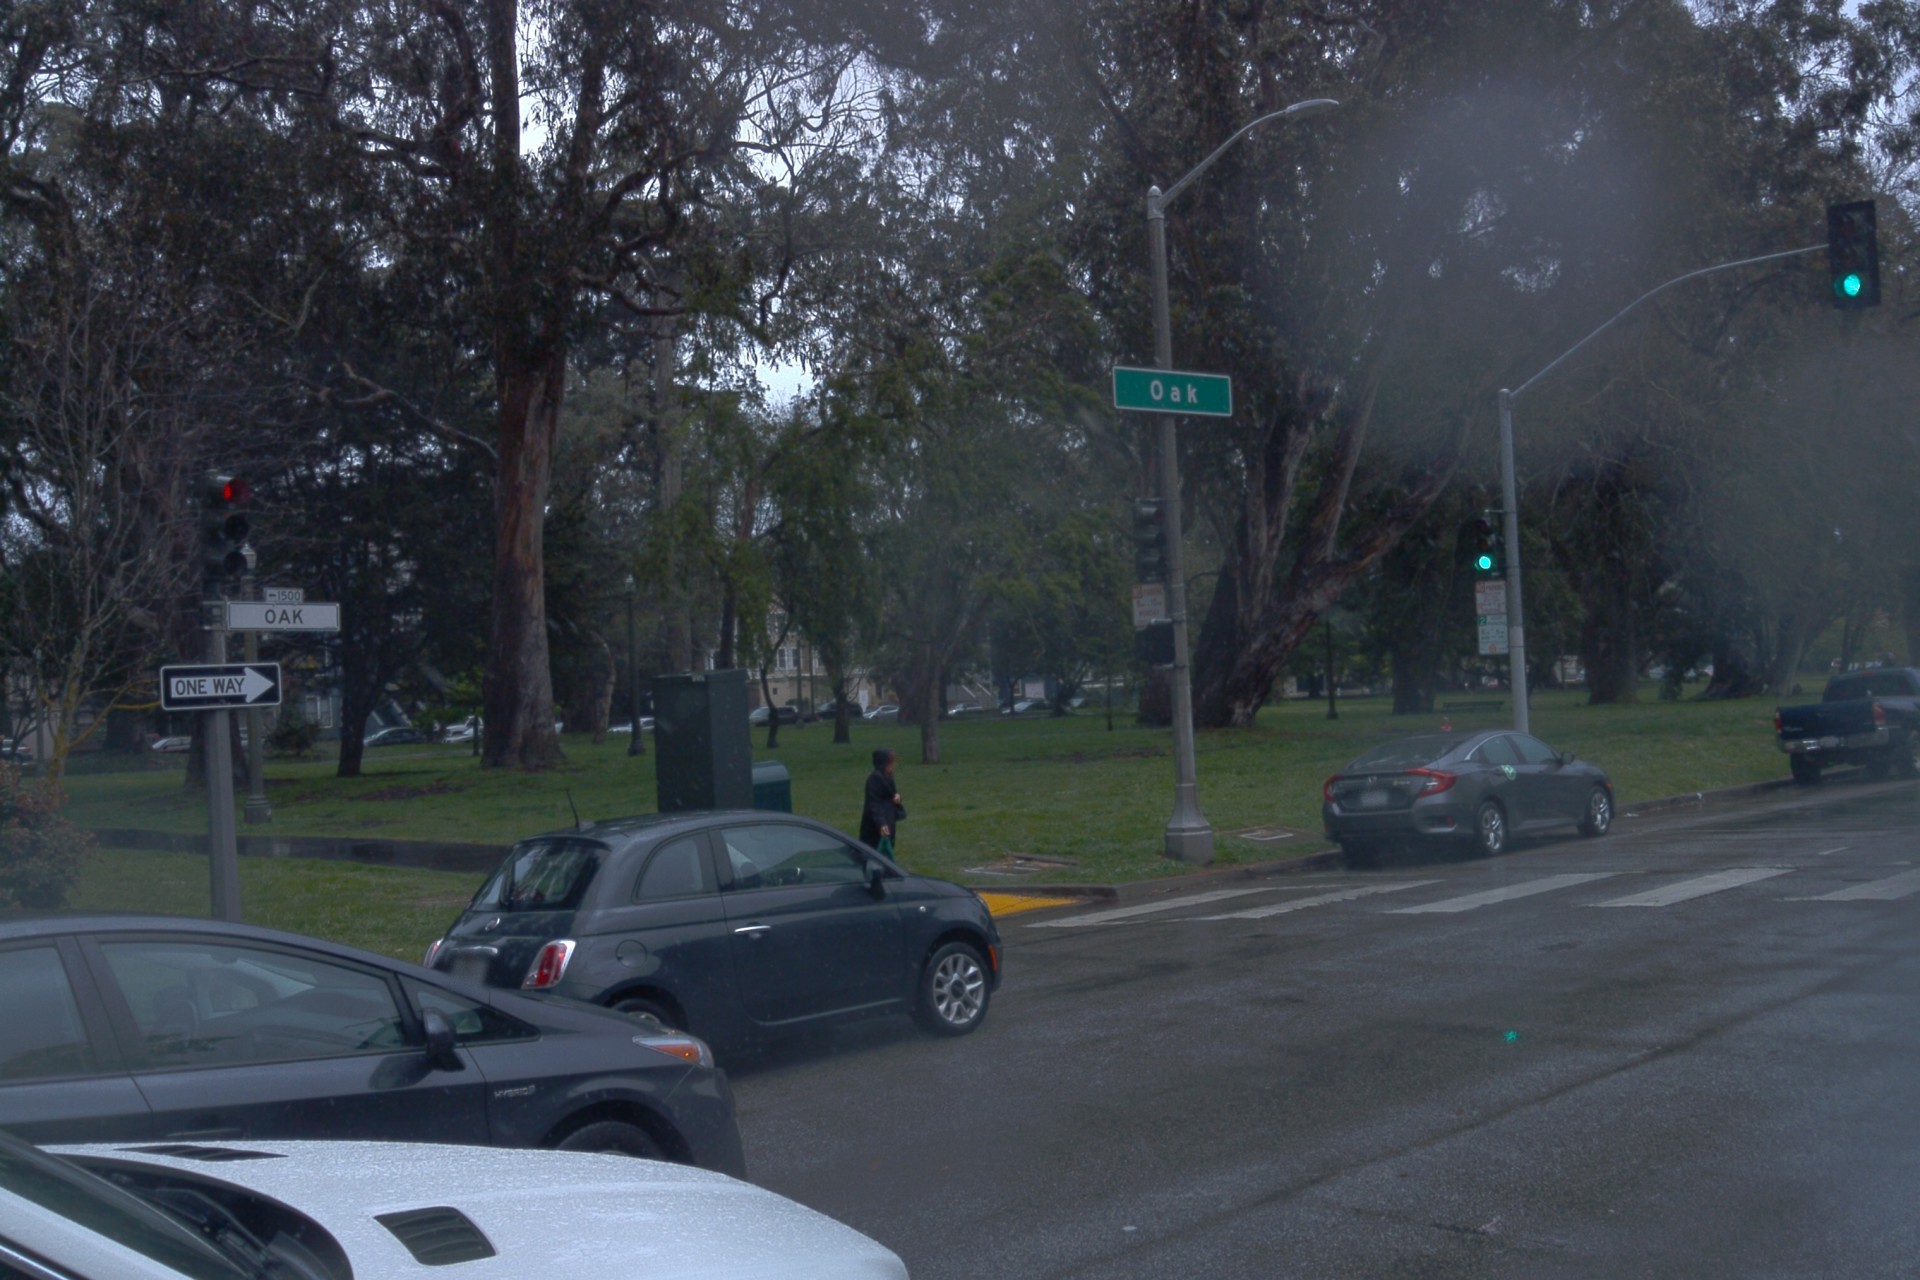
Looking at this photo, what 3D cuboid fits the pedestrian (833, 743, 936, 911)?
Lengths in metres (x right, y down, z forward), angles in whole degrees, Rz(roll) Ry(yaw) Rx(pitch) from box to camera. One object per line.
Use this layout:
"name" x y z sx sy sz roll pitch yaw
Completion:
"pedestrian" -0.746 1.845 20.458 0.723 1.560 0.834 1 1 26

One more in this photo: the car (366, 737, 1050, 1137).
"car" -1.367 1.547 11.953 3.581 1.715 1.794 -1 2 -44

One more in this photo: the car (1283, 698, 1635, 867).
"car" 5.883 1.556 23.838 2.031 1.540 4.554 1 2 42
